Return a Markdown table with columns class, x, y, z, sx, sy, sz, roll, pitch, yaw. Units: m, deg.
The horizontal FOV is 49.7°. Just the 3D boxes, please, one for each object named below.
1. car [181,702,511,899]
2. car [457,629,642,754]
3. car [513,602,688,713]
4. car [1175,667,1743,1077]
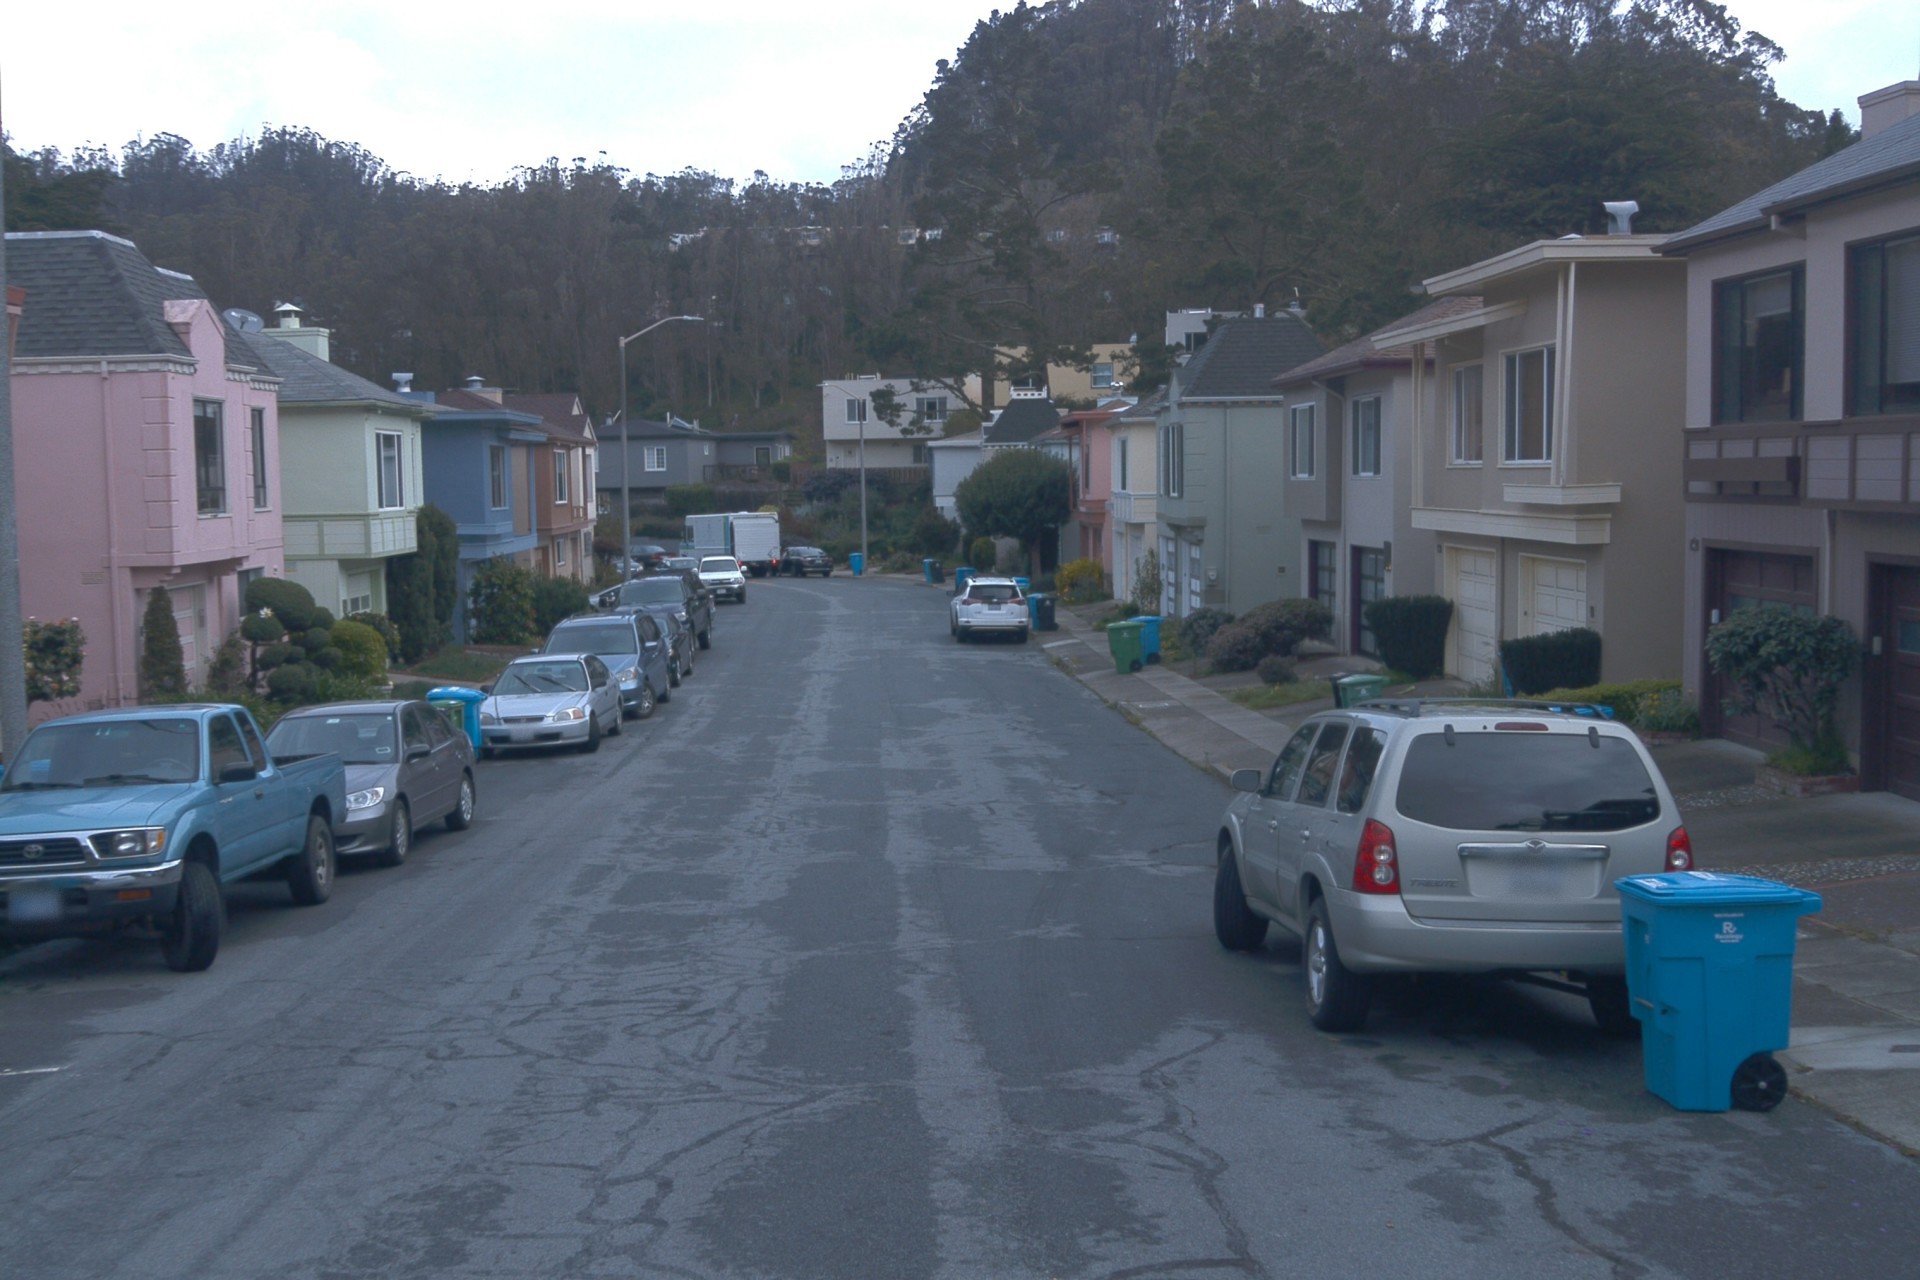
| class | x | y | z | sx | sy | sz | roll | pitch | yaw |
| --- | --- | --- | --- | --- | --- | --- | --- | --- | --- |
| car | -5.801 | 1.454 | 20.175 | 1.931 | 1.590 | 4.512 | 0 | 0 | -1 |
| car | -5.994 | 0.718 | 30.746 | 1.914 | 1.720 | 4.446 | 0 | 0 | -1 |
| car | -6.222 | 0.304 | 36.464 | 2.241 | 1.811 | 5.075 | 0 | 0 | -1 |
| car | 2.652 | 1.151 | 12.266 | 2.144 | 1.940 | 4.472 | 0 | 0 | -2 |
